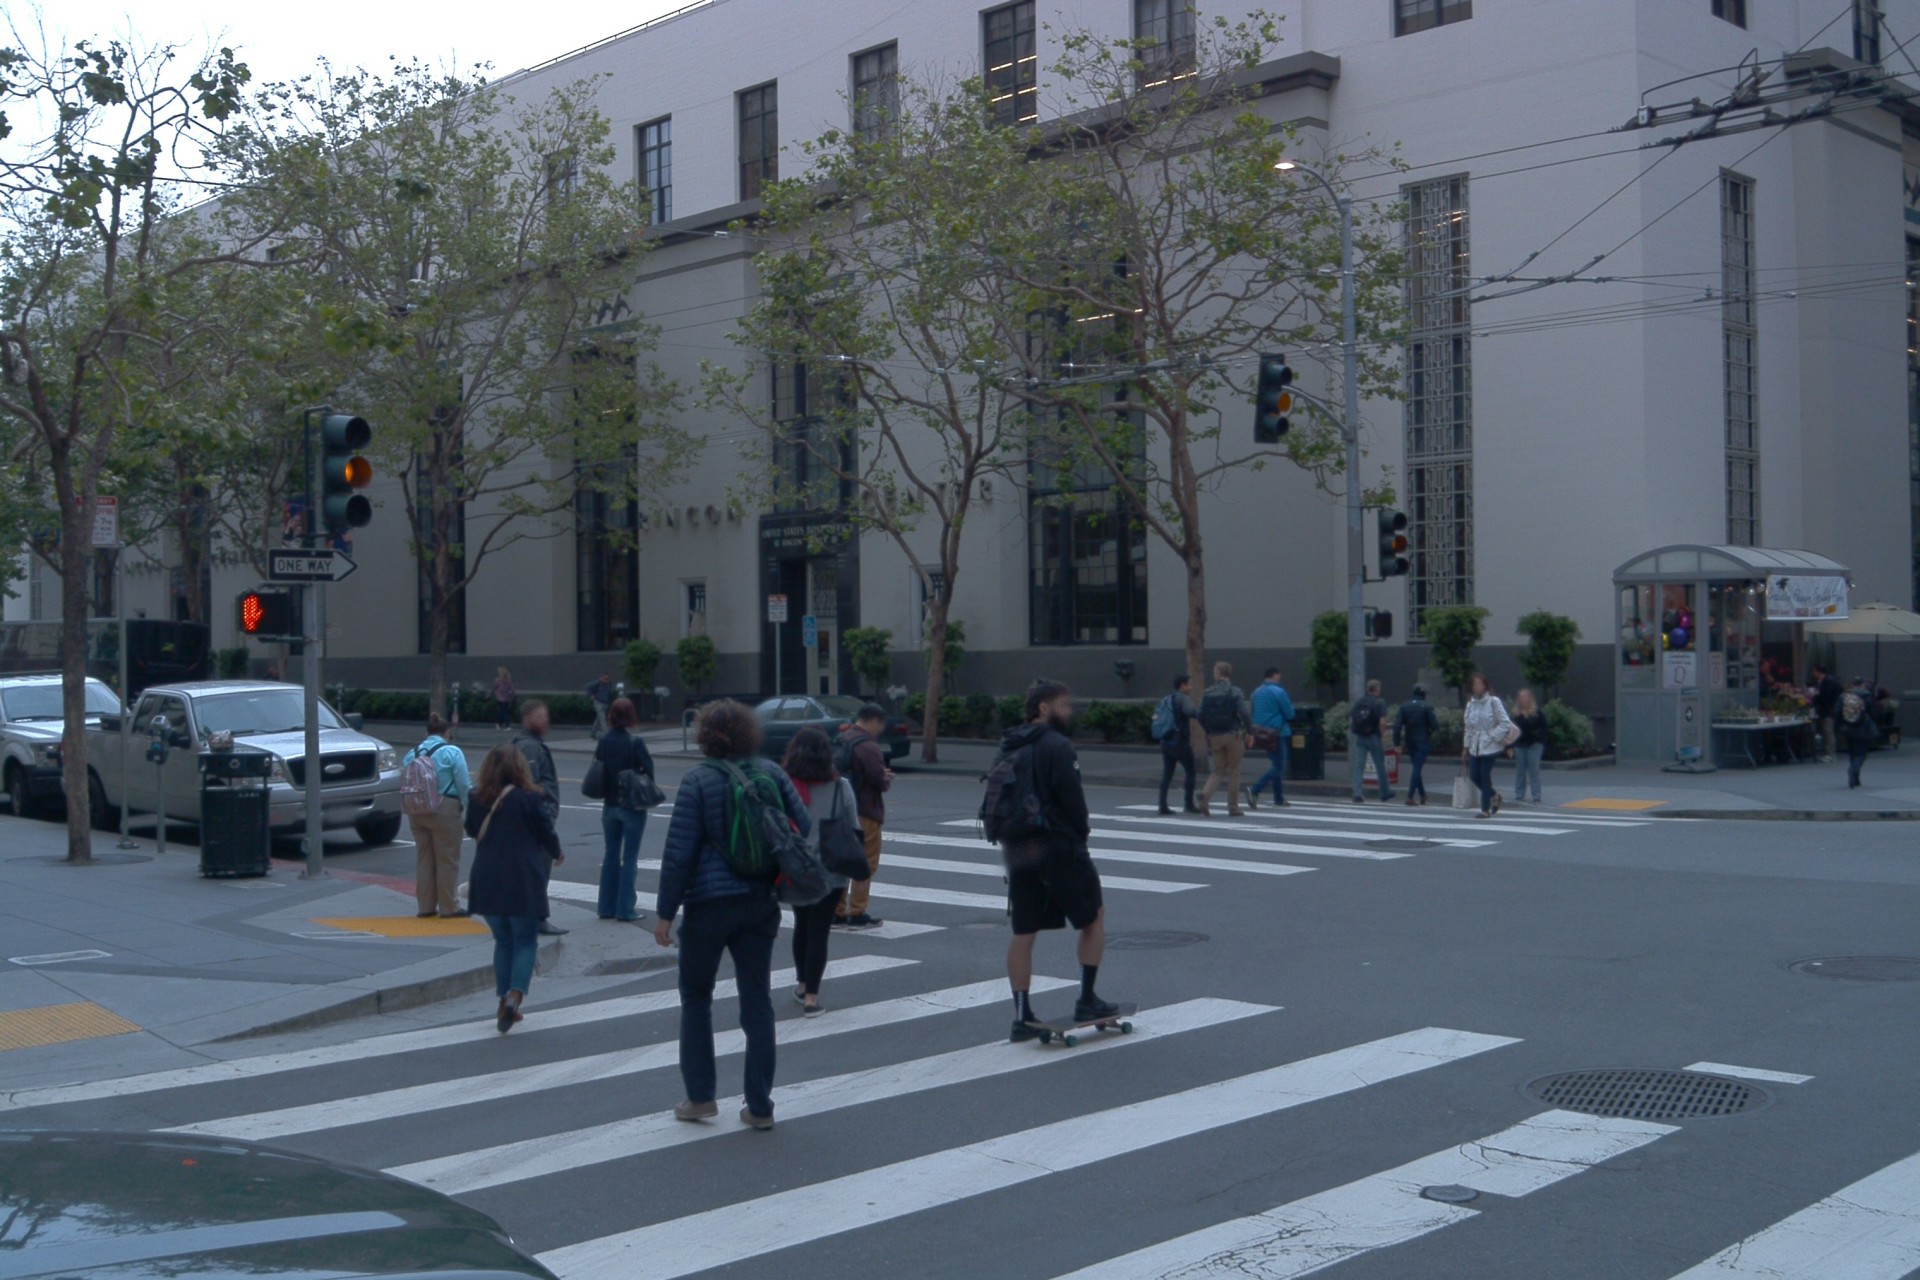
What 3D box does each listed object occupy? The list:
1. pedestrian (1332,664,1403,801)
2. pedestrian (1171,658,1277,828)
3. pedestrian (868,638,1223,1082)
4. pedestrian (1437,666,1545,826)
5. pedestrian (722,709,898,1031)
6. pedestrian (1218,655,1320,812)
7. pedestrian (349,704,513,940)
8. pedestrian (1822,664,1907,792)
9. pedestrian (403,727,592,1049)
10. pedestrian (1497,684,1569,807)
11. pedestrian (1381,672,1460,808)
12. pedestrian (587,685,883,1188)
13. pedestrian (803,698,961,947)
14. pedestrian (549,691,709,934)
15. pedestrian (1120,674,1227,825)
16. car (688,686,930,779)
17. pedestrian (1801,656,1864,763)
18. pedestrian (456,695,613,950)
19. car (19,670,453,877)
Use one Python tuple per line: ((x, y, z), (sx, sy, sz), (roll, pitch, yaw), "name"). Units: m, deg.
((5.711, 1.277, 28.918), (0.678, 1.856, 0.979), (0, 1, 32), "pedestrian")
((3.074, 1.171, 24.033), (0.762, 1.896, 1.051), (1, 1, 42), "pedestrian")
((0.462, 1.062, 10.879), (1.544, 2.118, 1.097), (-1, 1, -43), "pedestrian")
((6.219, 1.221, 24.186), (0.939, 1.800, 0.807), (-1, 1, -34), "pedestrian")
((-0.858, 1.301, 12.070), (0.797, 1.739, 1.042), (0, 1, 9), "pedestrian")
((3.871, 1.143, 25.833), (0.983, 1.896, 0.798), (-1, 1, -36), "pedestrian")
((-4.208, 1.418, 16.469), (0.830, 1.767, 1.012), (0, 1, 19), "pedestrian")
((12.904, 1.235, 29.441), (0.842, 1.766, 0.963), (1, 1, 41), "pedestrian")
((-2.649, 1.396, 11.917), (0.884, 1.741, 0.890), (0, 1, 0), "pedestrian")
((8.027, 1.462, 28.903), (0.735, 1.646, 0.893), (0, 1, 33), "pedestrian")
((6.337, 1.356, 28.359), (0.753, 1.796, 0.988), (0, 1, 34), "pedestrian")
((-0.999, 1.206, 8.991), (0.846, 1.969, 1.161), (-1, 1, -33), "pedestrian")
((-0.585, 1.349, 15.662), (0.716, 1.771, 0.964), (1, 1, 45), "pedestrian")
((-2.692, 1.370, 16.800), (0.828, 1.856, 0.973), (1, 1, 41), "pedestrian")
((2.537, 1.273, 24.509), (0.974, 1.706, 0.840), (-1, 1, -44), "pedestrian")
((-2.893, 1.685, 38.803), (2.016, 1.480, 4.678), (-1, 1, -44), "car")
((14.668, 1.151, 34.691), (0.751, 1.746, 0.848), (1, 1, 42), "pedestrian")
((-3.231, 1.347, 15.637), (0.942, 1.809, 0.850), (-1, 1, -29), "pedestrian")
((-8.544, 1.398, 23.966), (2.501, 1.940, 6.007), (-1, 1, -44), "car")
